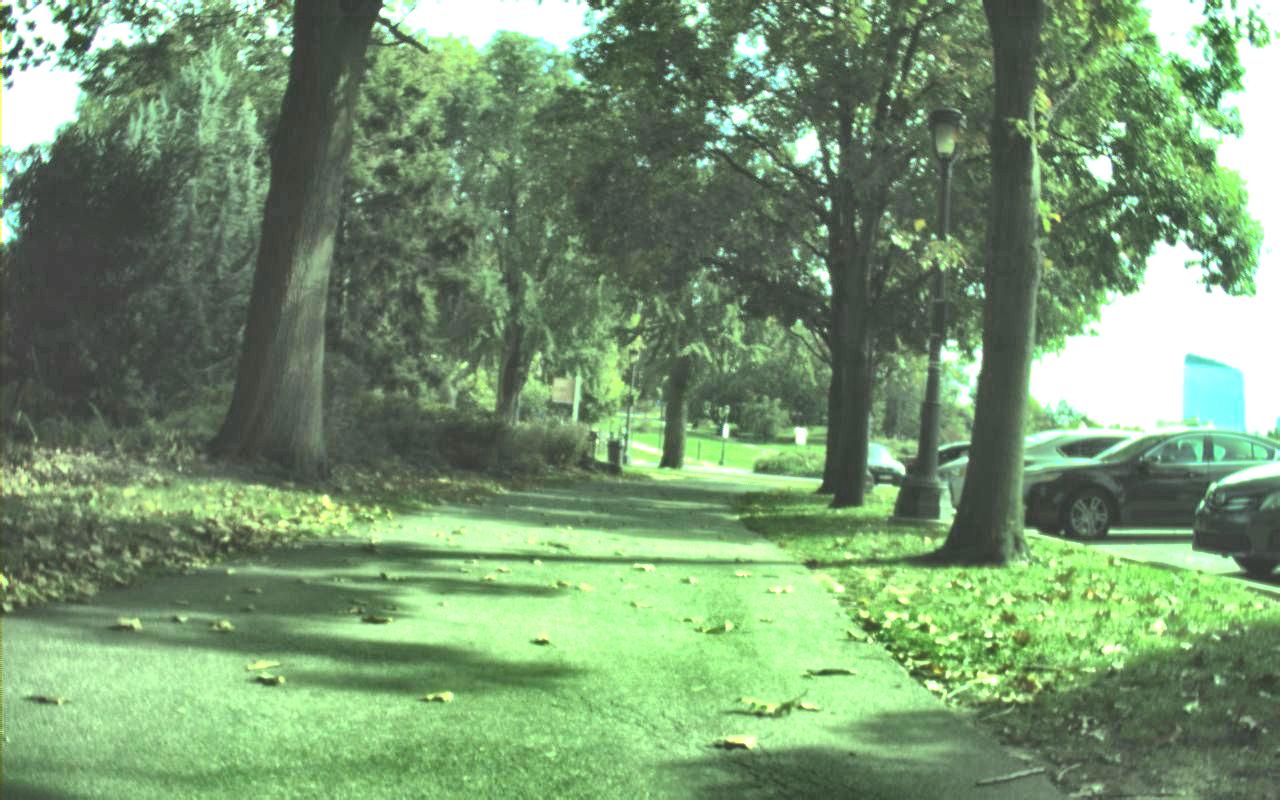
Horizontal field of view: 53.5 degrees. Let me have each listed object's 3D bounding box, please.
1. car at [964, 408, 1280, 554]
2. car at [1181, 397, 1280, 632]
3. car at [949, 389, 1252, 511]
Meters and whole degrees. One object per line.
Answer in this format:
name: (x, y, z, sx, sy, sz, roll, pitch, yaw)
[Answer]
car: (6.428, 0.968, 14.996, 4.452, 1.616, 1.979, 0, 1, 0)
car: (6.836, 0.848, 9.196, 4.468, 1.597, 1.993, 0, 1, -19)
car: (6.995, 0.720, 18.171, 4.407, 1.680, 1.962, 0, 1, -1)
